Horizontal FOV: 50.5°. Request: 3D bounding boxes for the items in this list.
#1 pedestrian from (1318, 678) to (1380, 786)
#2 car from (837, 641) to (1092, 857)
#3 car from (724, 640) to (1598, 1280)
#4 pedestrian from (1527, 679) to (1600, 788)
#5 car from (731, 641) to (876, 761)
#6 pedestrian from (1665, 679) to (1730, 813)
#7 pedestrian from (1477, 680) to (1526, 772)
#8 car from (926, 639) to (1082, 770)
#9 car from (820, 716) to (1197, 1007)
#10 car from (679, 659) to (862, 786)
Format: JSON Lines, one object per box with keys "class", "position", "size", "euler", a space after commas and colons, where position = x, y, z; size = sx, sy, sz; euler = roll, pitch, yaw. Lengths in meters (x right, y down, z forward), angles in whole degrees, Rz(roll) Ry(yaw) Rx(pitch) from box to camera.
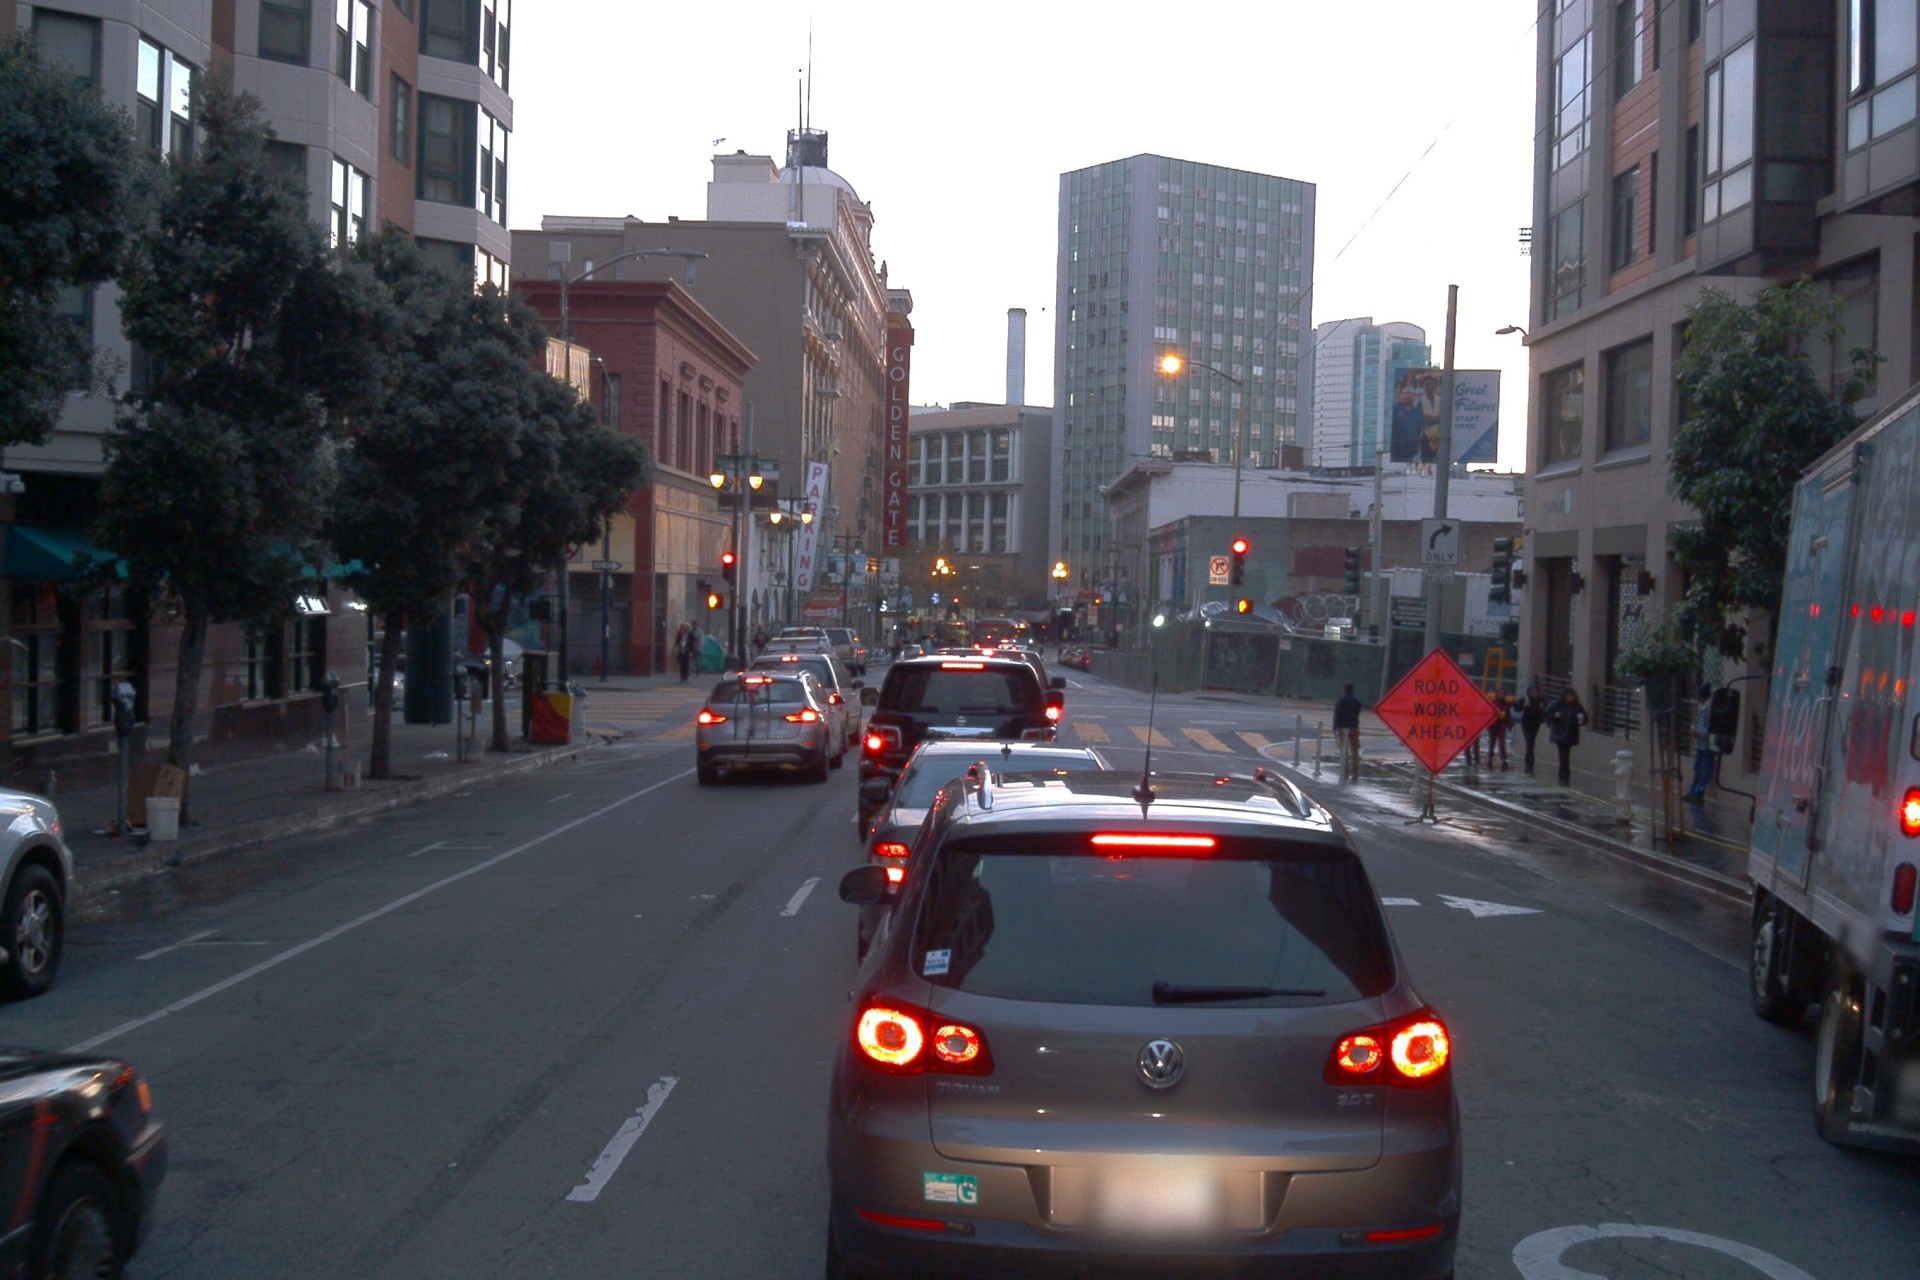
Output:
{"class": "pedestrian", "position": [6.687, 1.578, 35.069], "size": [0.777, 1.790, 0.924], "euler": [1, 1, -5]}
{"class": "car", "position": [0.036, 1.029, 21.904], "size": [2.368, 1.940, 5.339], "euler": [1, 1, 0]}
{"class": "car", "position": [0.546, 1.062, 7.023], "size": [2.109, 2.050, 3.981], "euler": [1, 1, 2]}
{"class": "pedestrian", "position": [10.064, 1.547, 33.976], "size": [0.879, 1.760, 0.905], "euler": [1, 1, -2]}
{"class": "car", "position": [-2.657, 0.997, 35.547], "size": [1.896, 1.880, 4.462], "euler": [1, 1, 4]}
{"class": "pedestrian", "position": [10.761, 1.535, 29.715], "size": [0.659, 1.890, 0.755], "euler": [1, 1, 4]}
{"class": "pedestrian", "position": [9.856, 1.558, 37.073], "size": [0.622, 1.610, 0.759], "euler": [1, 1, -1]}
{"class": "car", "position": [0.622, 0.856, 29.391], "size": [2.036, 1.650, 4.678], "euler": [1, 1, 1]}
{"class": "car", "position": [0.292, 1.324, 13.592], "size": [2.089, 1.400, 4.279], "euler": [1, 1, 1]}
{"class": "car", "position": [-2.614, 1.110, 29.103], "size": [2.110, 1.572, 4.118], "euler": [1, 1, 1]}
